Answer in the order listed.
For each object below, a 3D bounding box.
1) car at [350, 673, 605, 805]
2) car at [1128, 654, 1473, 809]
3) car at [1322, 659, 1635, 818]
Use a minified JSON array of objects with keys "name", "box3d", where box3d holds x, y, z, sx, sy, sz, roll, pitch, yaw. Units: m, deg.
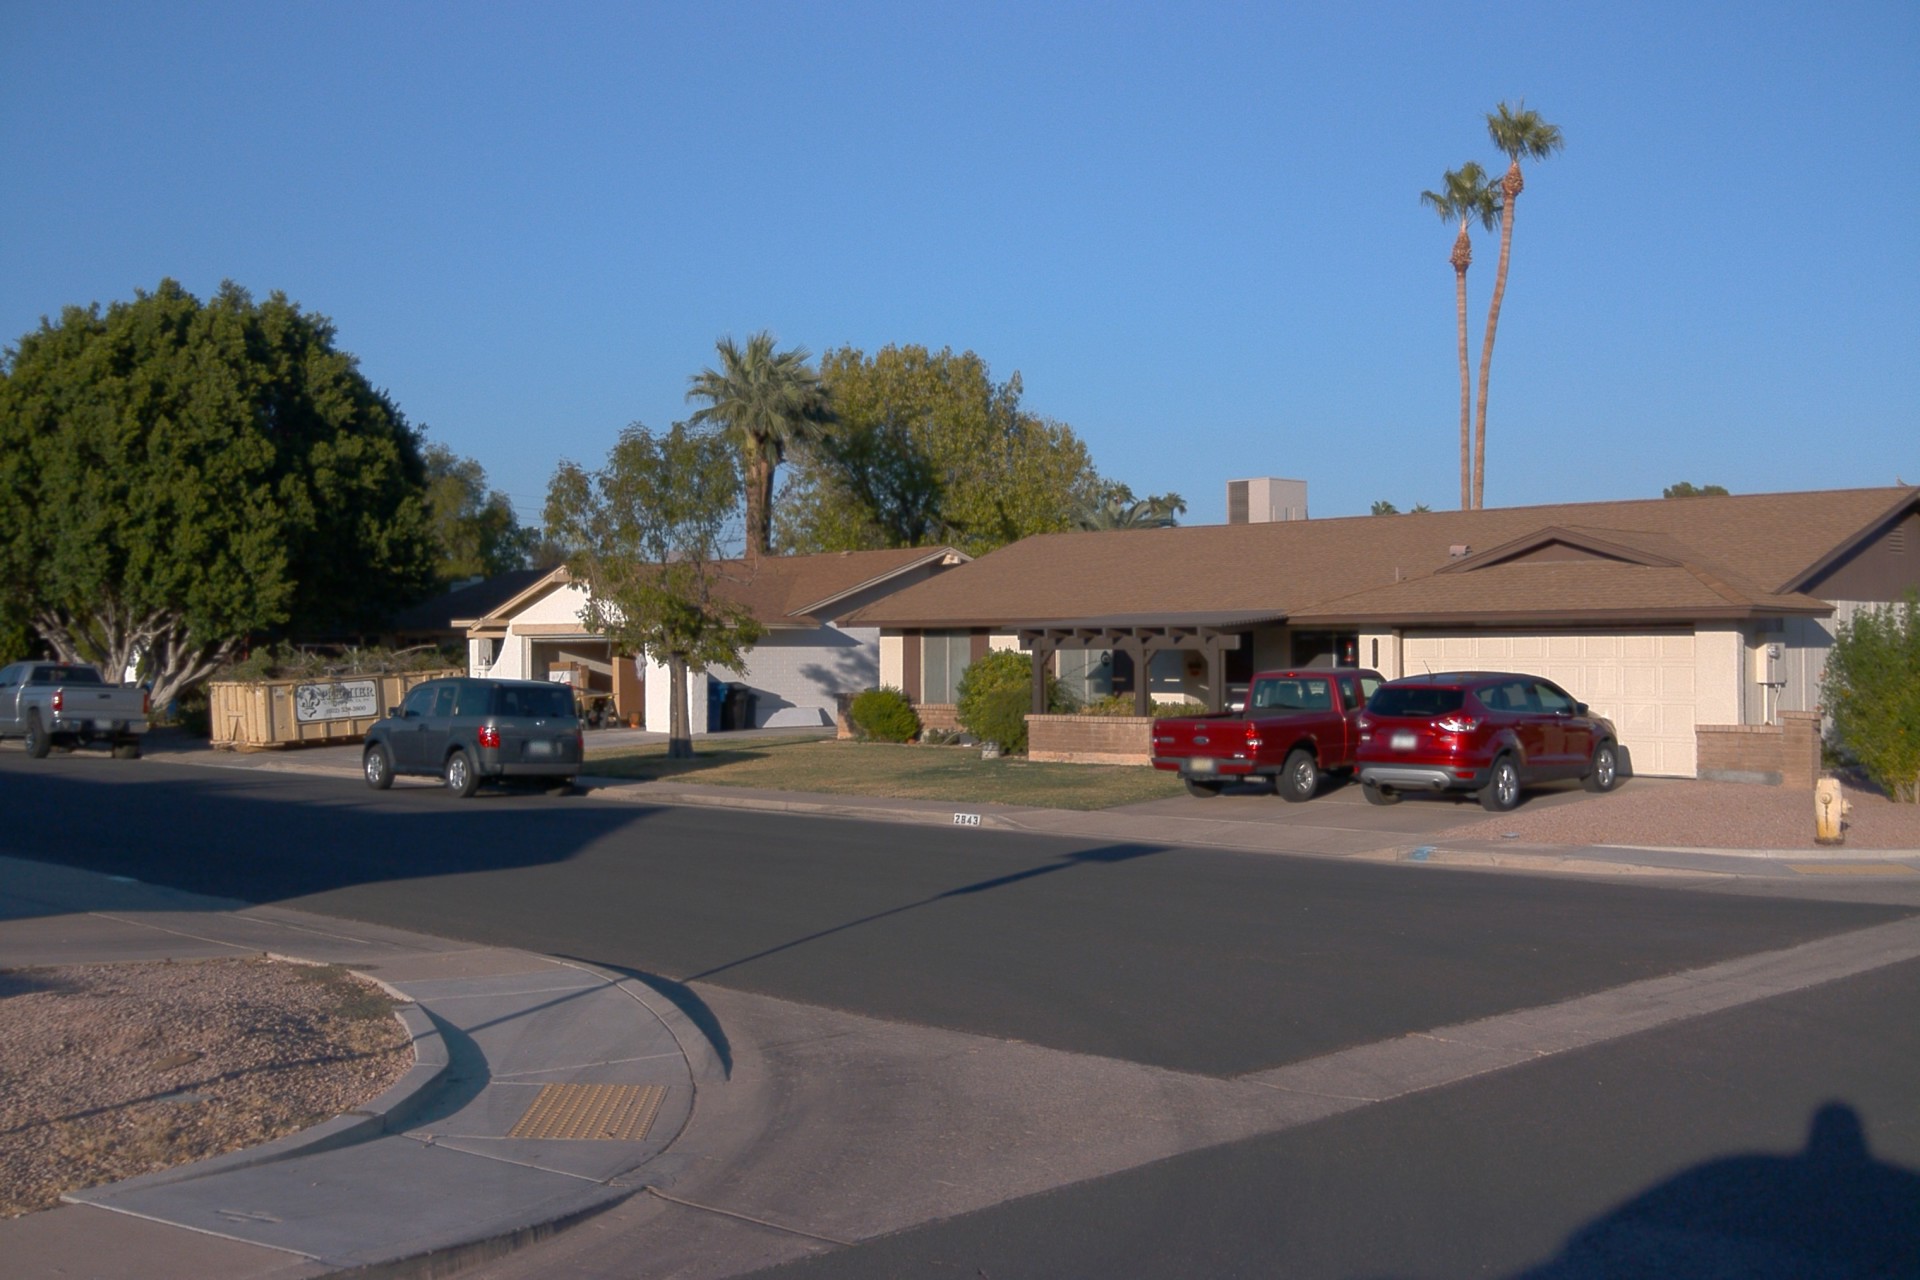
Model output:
[{"name":"car","box3d":[-7.449,1.448,32.046,1.977,1.810,4.098,1,0,-44]},{"name":"car","box3d":[4.721,1.151,28.384,1.986,1.900,5.227,0,0,44]},{"name":"car","box3d":[6.698,1.166,26.679,1.963,1.830,4.602,0,0,41]}]
